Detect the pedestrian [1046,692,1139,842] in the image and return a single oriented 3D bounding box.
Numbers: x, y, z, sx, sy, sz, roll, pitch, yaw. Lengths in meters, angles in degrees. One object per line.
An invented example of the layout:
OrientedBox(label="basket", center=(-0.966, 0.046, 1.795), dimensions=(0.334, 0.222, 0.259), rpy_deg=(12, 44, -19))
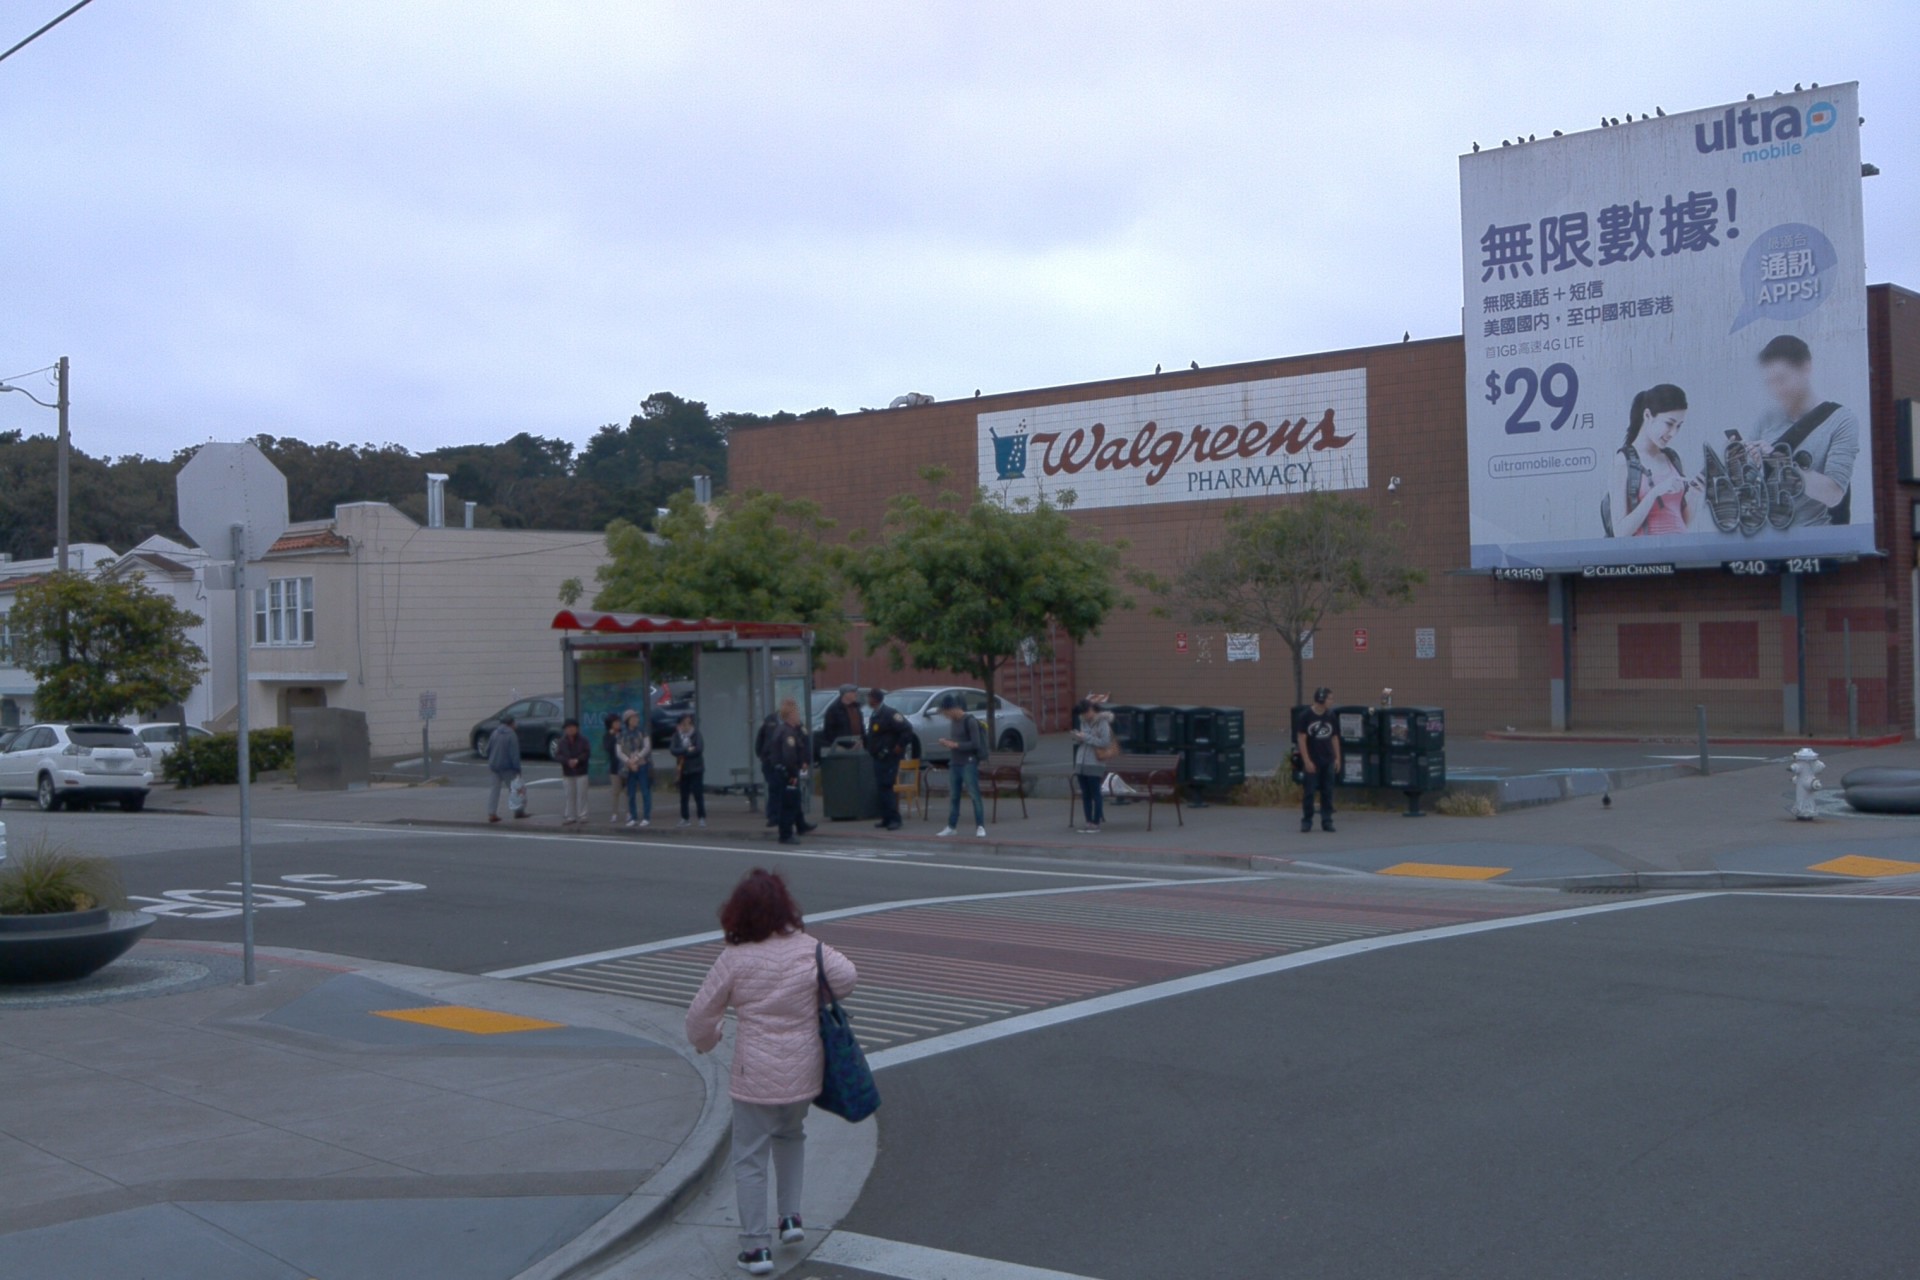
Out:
OrientedBox(label="pedestrian", center=(1.569, 1.489, 24.502), dimensions=(0.872, 1.690, 0.667), rpy_deg=(1, 1, 39))

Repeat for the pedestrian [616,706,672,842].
OrientedBox(label="pedestrian", center=(-4.372, 1.843, 28.580), dimensions=(0.760, 1.830, 0.681), rpy_deg=(0, 1, -8))

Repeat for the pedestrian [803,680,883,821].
OrientedBox(label="pedestrian", center=(-1.673, 1.561, 29.455), dimensions=(0.921, 1.935, 0.825), rpy_deg=(0, 1, -23))

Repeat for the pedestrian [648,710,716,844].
OrientedBox(label="pedestrian", center=(-3.769, 1.840, 27.943), dimensions=(0.686, 1.730, 0.706), rpy_deg=(-1, 1, -31))

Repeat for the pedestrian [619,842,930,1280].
OrientedBox(label="pedestrian", center=(-0.679, 1.526, 7.374), dimensions=(0.911, 1.479, 0.849), rpy_deg=(0, 1, -21))

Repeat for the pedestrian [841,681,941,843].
OrientedBox(label="pedestrian", center=(-0.860, 1.505, 25.881), dimensions=(0.954, 1.930, 0.995), rpy_deg=(0, 1, 19))

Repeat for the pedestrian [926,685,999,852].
OrientedBox(label="pedestrian", center=(0.039, 1.517, 24.659), dimensions=(0.662, 1.910, 0.878), rpy_deg=(0, 1, 16))

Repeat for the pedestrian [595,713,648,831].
OrientedBox(label="pedestrian", center=(-4.846, 1.876, 29.539), dimensions=(0.684, 1.635, 0.709), rpy_deg=(0, 1, -5))

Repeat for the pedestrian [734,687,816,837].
OrientedBox(label="pedestrian", center=(-2.443, 1.598, 27.331), dimensions=(0.934, 1.910, 0.847), rpy_deg=(0, 1, 6))

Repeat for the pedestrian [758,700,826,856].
OrientedBox(label="pedestrian", center=(-2.085, 1.690, 25.546), dimensions=(0.811, 1.841, 0.986), rpy_deg=(0, 1, -6))

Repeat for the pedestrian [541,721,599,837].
OrientedBox(label="pedestrian", center=(-5.602, 1.993, 29.670), dimensions=(0.684, 1.610, 0.709), rpy_deg=(0, 1, 0))

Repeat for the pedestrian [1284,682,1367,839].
OrientedBox(label="pedestrian", center=(4.189, 1.361, 23.647), dimensions=(0.723, 1.730, 0.738), rpy_deg=(1, 1, 30))

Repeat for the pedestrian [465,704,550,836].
OrientedBox(label="pedestrian", center=(-6.778, 1.933, 30.956), dimensions=(0.923, 1.880, 0.869), rpy_deg=(0, 1, 18))
